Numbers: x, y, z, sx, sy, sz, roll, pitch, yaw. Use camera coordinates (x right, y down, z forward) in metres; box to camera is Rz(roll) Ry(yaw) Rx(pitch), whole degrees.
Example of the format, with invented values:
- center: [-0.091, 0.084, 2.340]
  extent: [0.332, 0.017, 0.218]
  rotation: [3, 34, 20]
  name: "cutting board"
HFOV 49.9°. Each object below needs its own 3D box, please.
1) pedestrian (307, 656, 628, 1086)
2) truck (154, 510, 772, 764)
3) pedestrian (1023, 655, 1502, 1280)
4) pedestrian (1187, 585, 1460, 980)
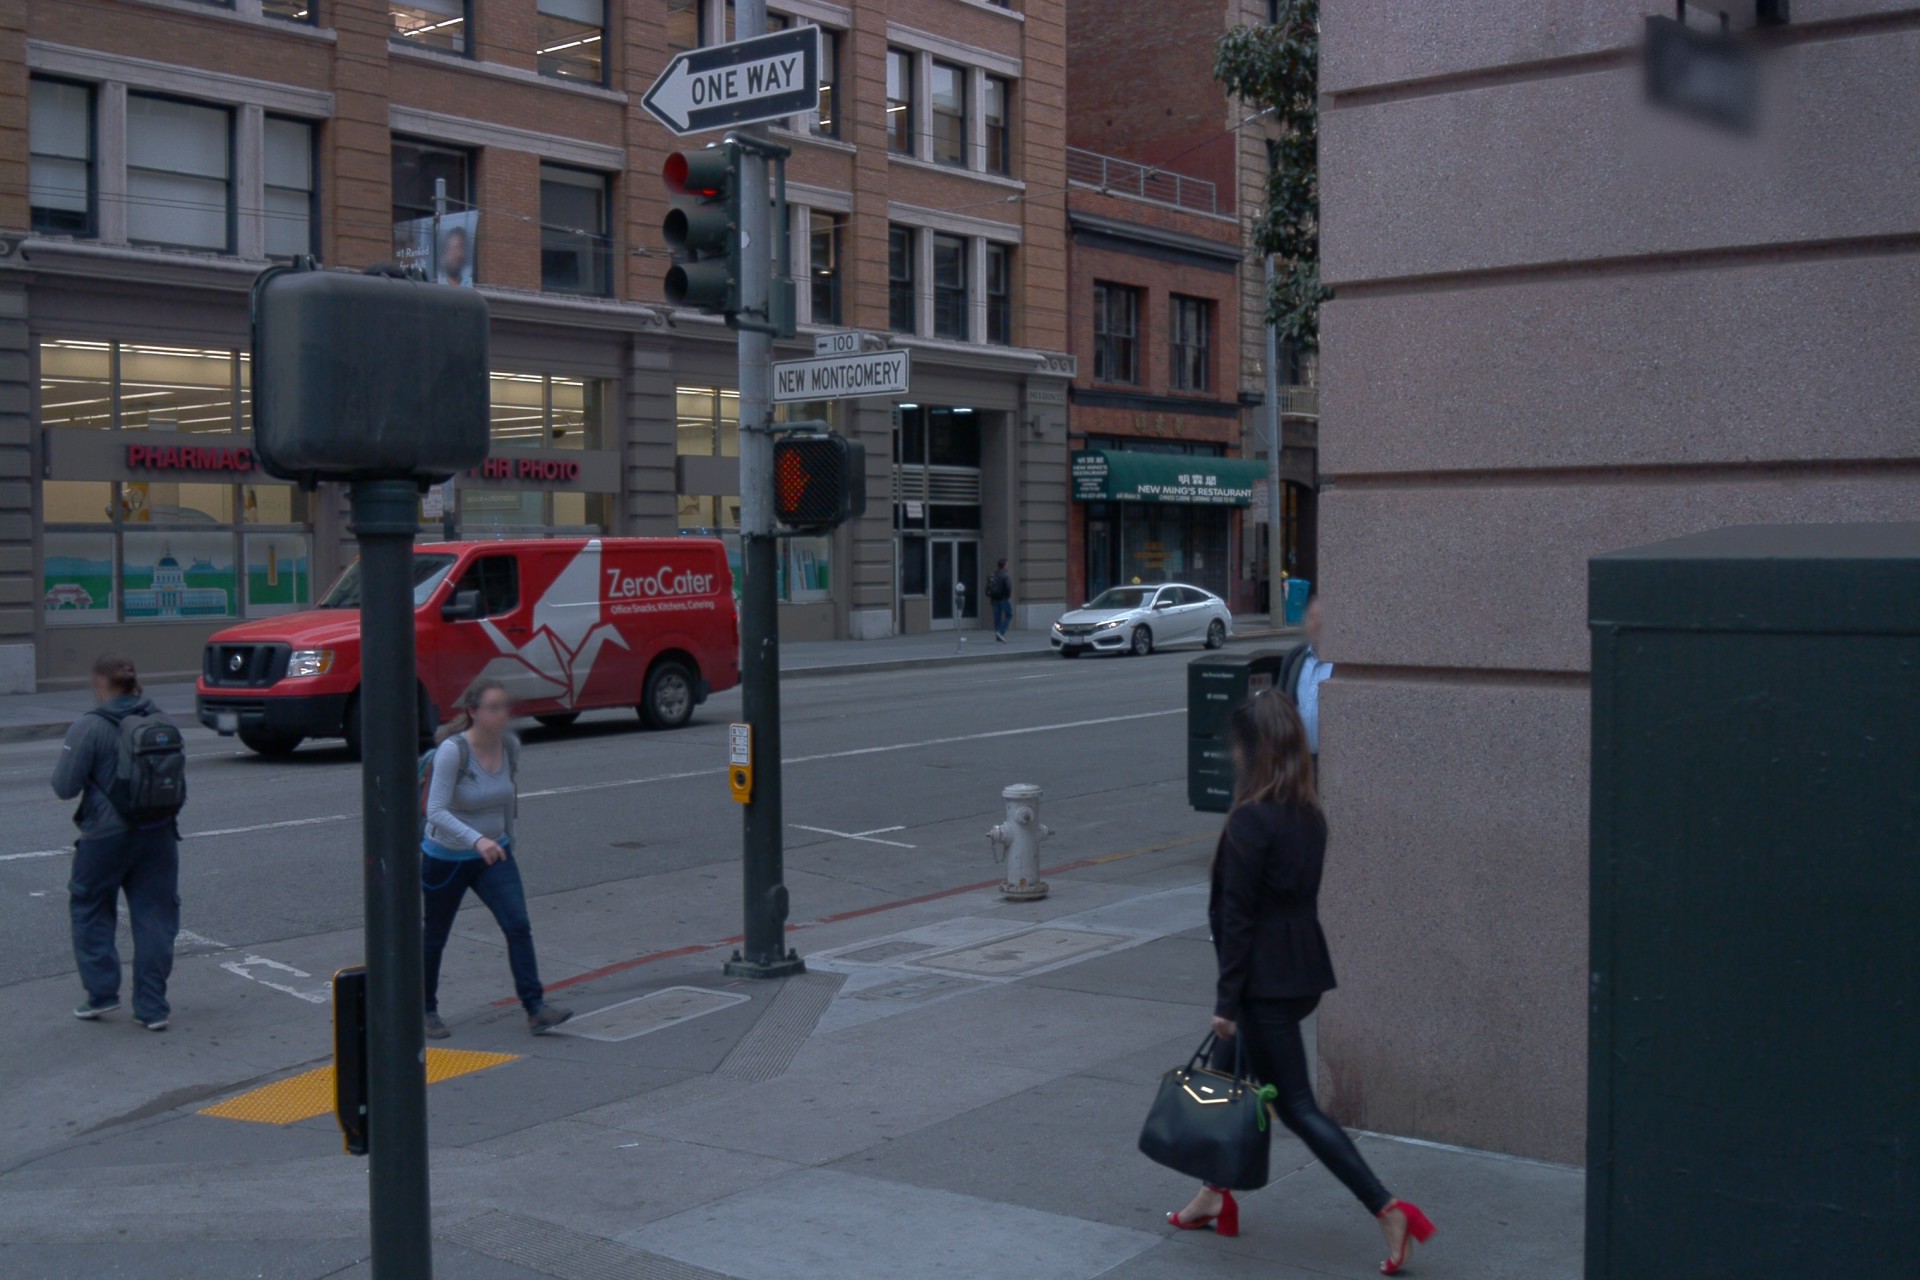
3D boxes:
- center: [-2.210, 0.967, 9.283]
  extent: [1.086, 1.765, 0.922]
  rotation: [0, 1, 38]
  name: "pedestrian"
- center: [-4.880, -0.059, 21.337]
  extent: [2.356, 2.240, 6.072]
  rotation: [0, 1, 37]
  name: "truck"
- center: [0.846, 0.908, 5.761]
  extent: [1.093, 1.710, 0.782]
  rotation: [0, 1, 33]
  name: "pedestrian"
- center: [1.841, 0.667, 10.438]
  extent: [1.120, 1.860, 0.858]
  rotation: [-1, 1, -44]
  name: "pedestrian"
